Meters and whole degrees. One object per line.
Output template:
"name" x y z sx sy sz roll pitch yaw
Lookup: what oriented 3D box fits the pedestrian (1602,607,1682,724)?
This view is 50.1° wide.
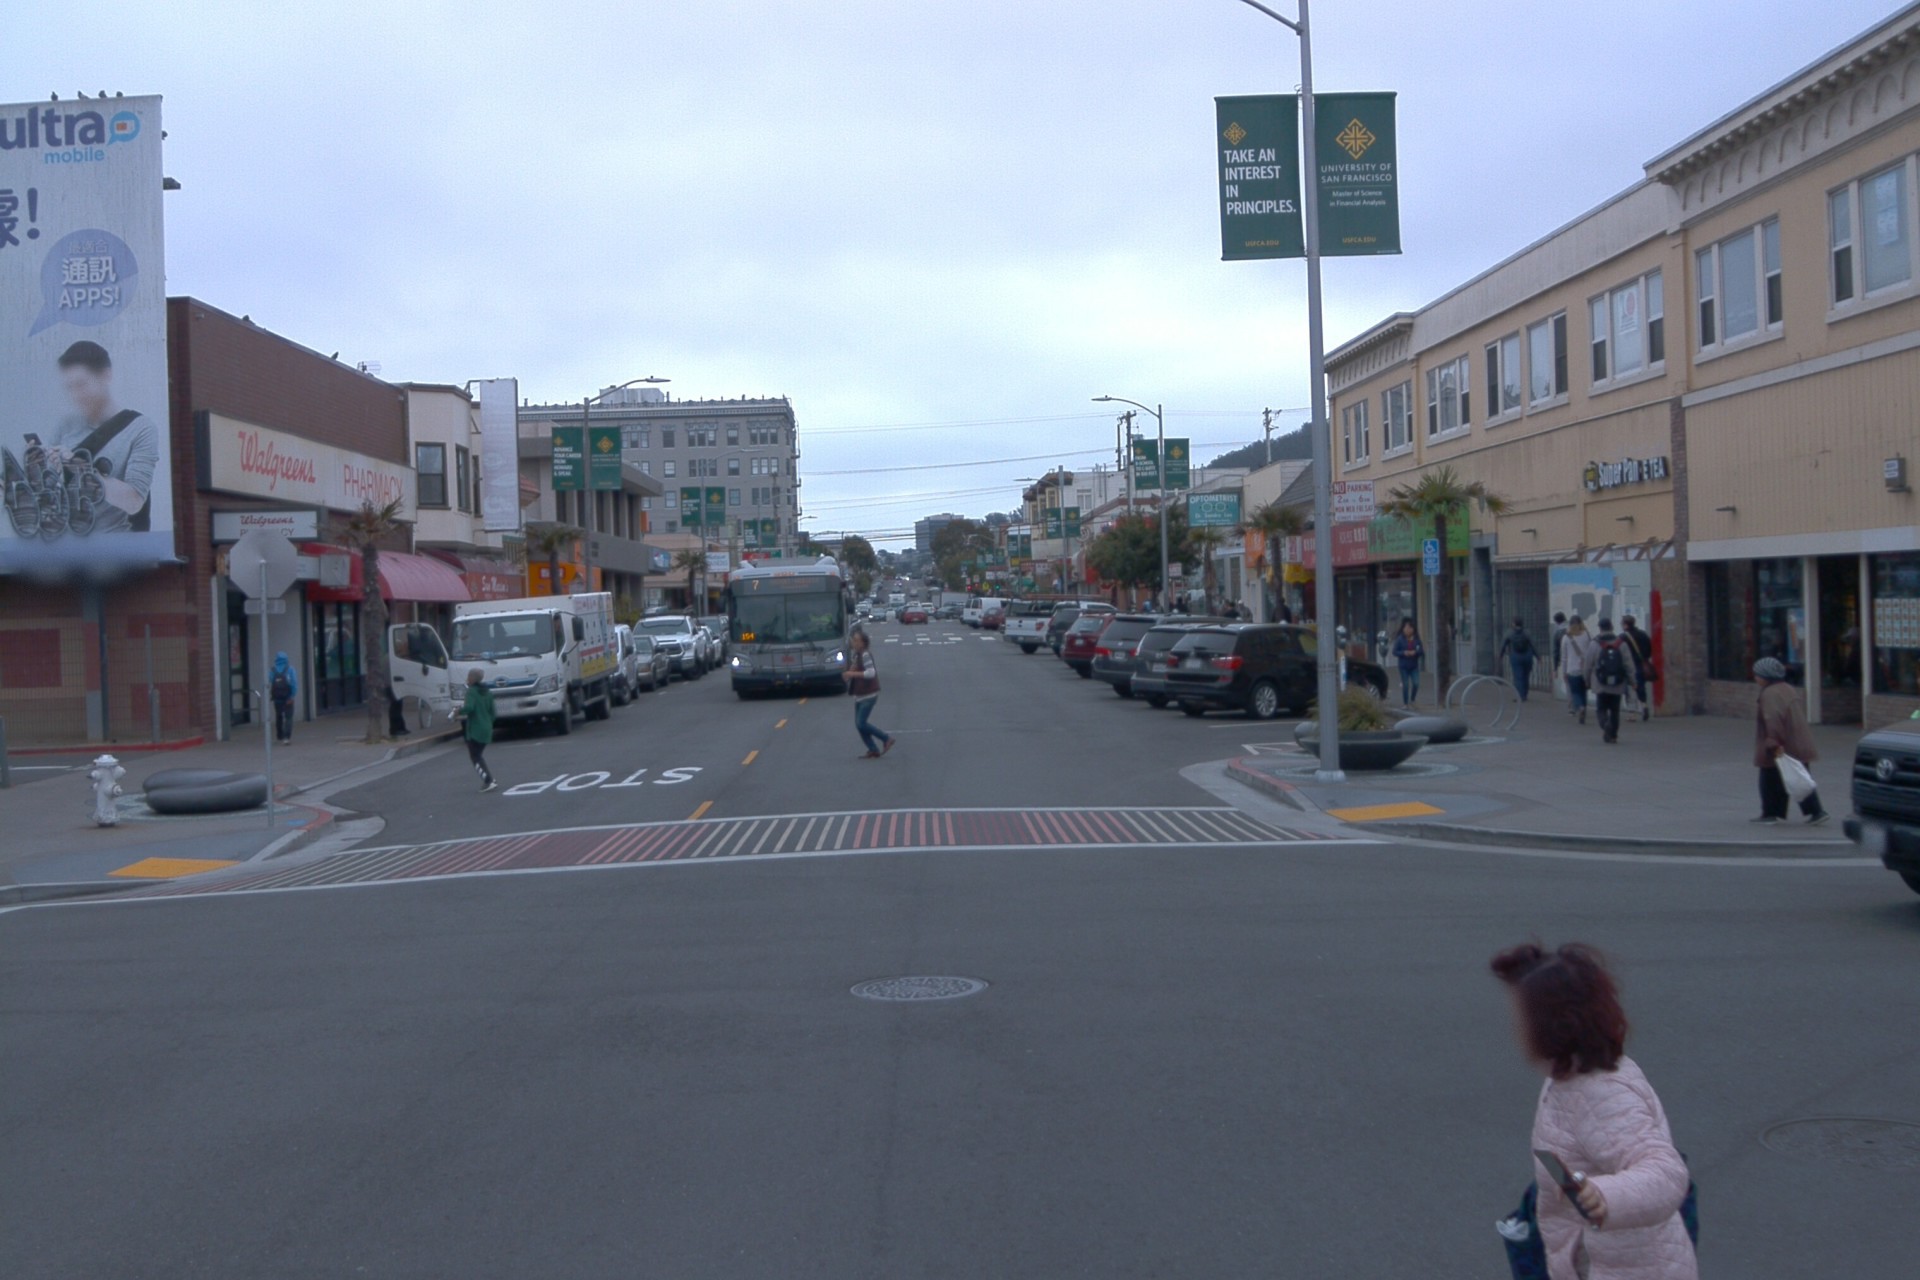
"pedestrian" 10.284 0.369 31.041 0.952 1.742 0.808 0 1 2

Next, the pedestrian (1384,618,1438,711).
"pedestrian" 7.913 0.420 36.113 0.747 1.598 0.778 0 1 -2

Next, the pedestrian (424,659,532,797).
"pedestrian" -6.211 1.117 26.517 1.106 1.713 0.765 0 1 19

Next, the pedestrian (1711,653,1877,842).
"pedestrian" 6.909 0.858 17.034 1.065 1.477 0.834 -1 1 -36

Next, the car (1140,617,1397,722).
"car" 5.580 0.480 36.910 4.510 1.740 2.044 -1 1 -39

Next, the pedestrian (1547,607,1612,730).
"pedestrian" 9.312 0.414 30.933 0.711 1.824 0.916 0 1 2

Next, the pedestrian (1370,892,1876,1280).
"pedestrian" 1.299 1.316 4.093 0.854 1.479 0.906 0 1 18

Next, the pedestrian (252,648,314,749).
"pedestrian" -11.627 0.996 35.322 0.819 1.710 0.783 0 1 -3

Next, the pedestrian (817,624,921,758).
"pedestrian" -1.267 0.688 28.557 1.259 1.820 0.886 -1 1 -16

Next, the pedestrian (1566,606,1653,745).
"pedestrian" 8.432 0.451 26.713 0.925 1.770 0.948 0 1 8
